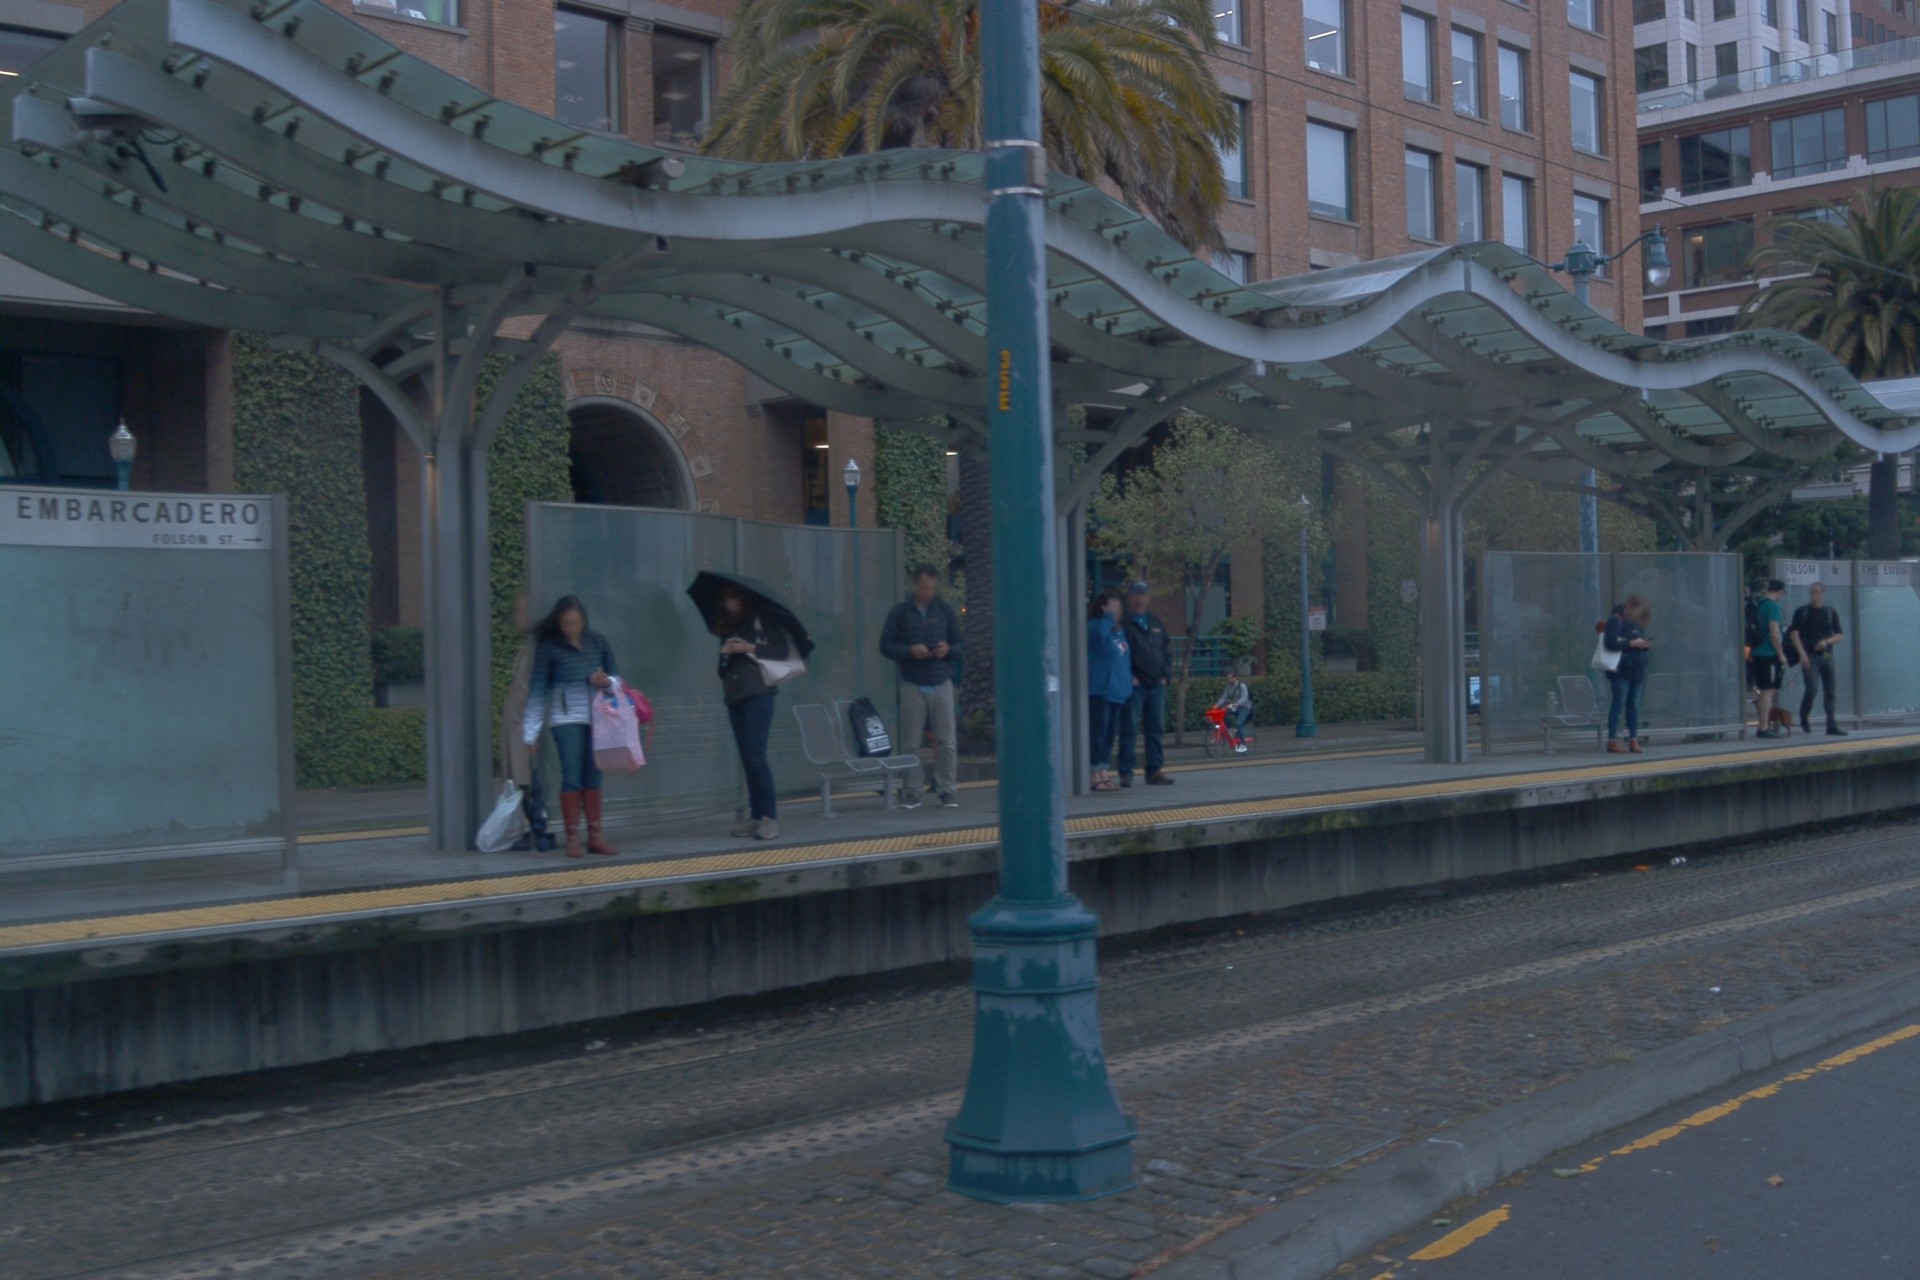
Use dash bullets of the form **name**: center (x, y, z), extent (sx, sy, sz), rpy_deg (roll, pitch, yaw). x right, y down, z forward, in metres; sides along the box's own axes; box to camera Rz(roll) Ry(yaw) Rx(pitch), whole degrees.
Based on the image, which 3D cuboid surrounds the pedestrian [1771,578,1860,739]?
- **pedestrian**: center (10.238, 0.216, 24.906), extent (0.886, 1.890, 0.903), rpy_deg (0, 0, 15)

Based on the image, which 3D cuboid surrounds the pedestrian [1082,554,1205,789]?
- **pedestrian**: center (1.550, 0.261, 17.599), extent (0.785, 1.930, 0.696), rpy_deg (0, 0, -30)

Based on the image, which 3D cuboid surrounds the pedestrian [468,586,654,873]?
- **pedestrian**: center (-2.350, 0.501, 12.183), extent (0.956, 1.600, 0.871), rpy_deg (0, 0, -20)

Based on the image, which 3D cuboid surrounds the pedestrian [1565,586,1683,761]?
- **pedestrian**: center (6.901, 0.343, 21.619), extent (0.846, 1.770, 0.860), rpy_deg (0, 0, -43)

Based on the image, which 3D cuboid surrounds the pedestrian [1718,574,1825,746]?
- **pedestrian**: center (9.457, 0.230, 24.254), extent (0.838, 1.960, 0.888), rpy_deg (0, 0, -10)

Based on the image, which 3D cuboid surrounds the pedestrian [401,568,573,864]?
- **pedestrian**: center (-2.890, 0.446, 12.731), extent (0.717, 1.740, 0.720), rpy_deg (0, 0, 34)

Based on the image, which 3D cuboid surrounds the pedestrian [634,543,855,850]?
- **pedestrian**: center (-1.383, 0.346, 13.365), extent (1.061, 1.867, 0.941), rpy_deg (0, 0, -44)

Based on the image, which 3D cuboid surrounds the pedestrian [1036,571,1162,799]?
- **pedestrian**: center (1.139, 0.359, 17.064), extent (0.785, 1.810, 0.696), rpy_deg (0, 0, -30)

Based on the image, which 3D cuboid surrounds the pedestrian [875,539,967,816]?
- **pedestrian**: center (-0.297, 0.270, 15.464), extent (0.627, 2.008, 0.717), rpy_deg (0, 0, -7)
